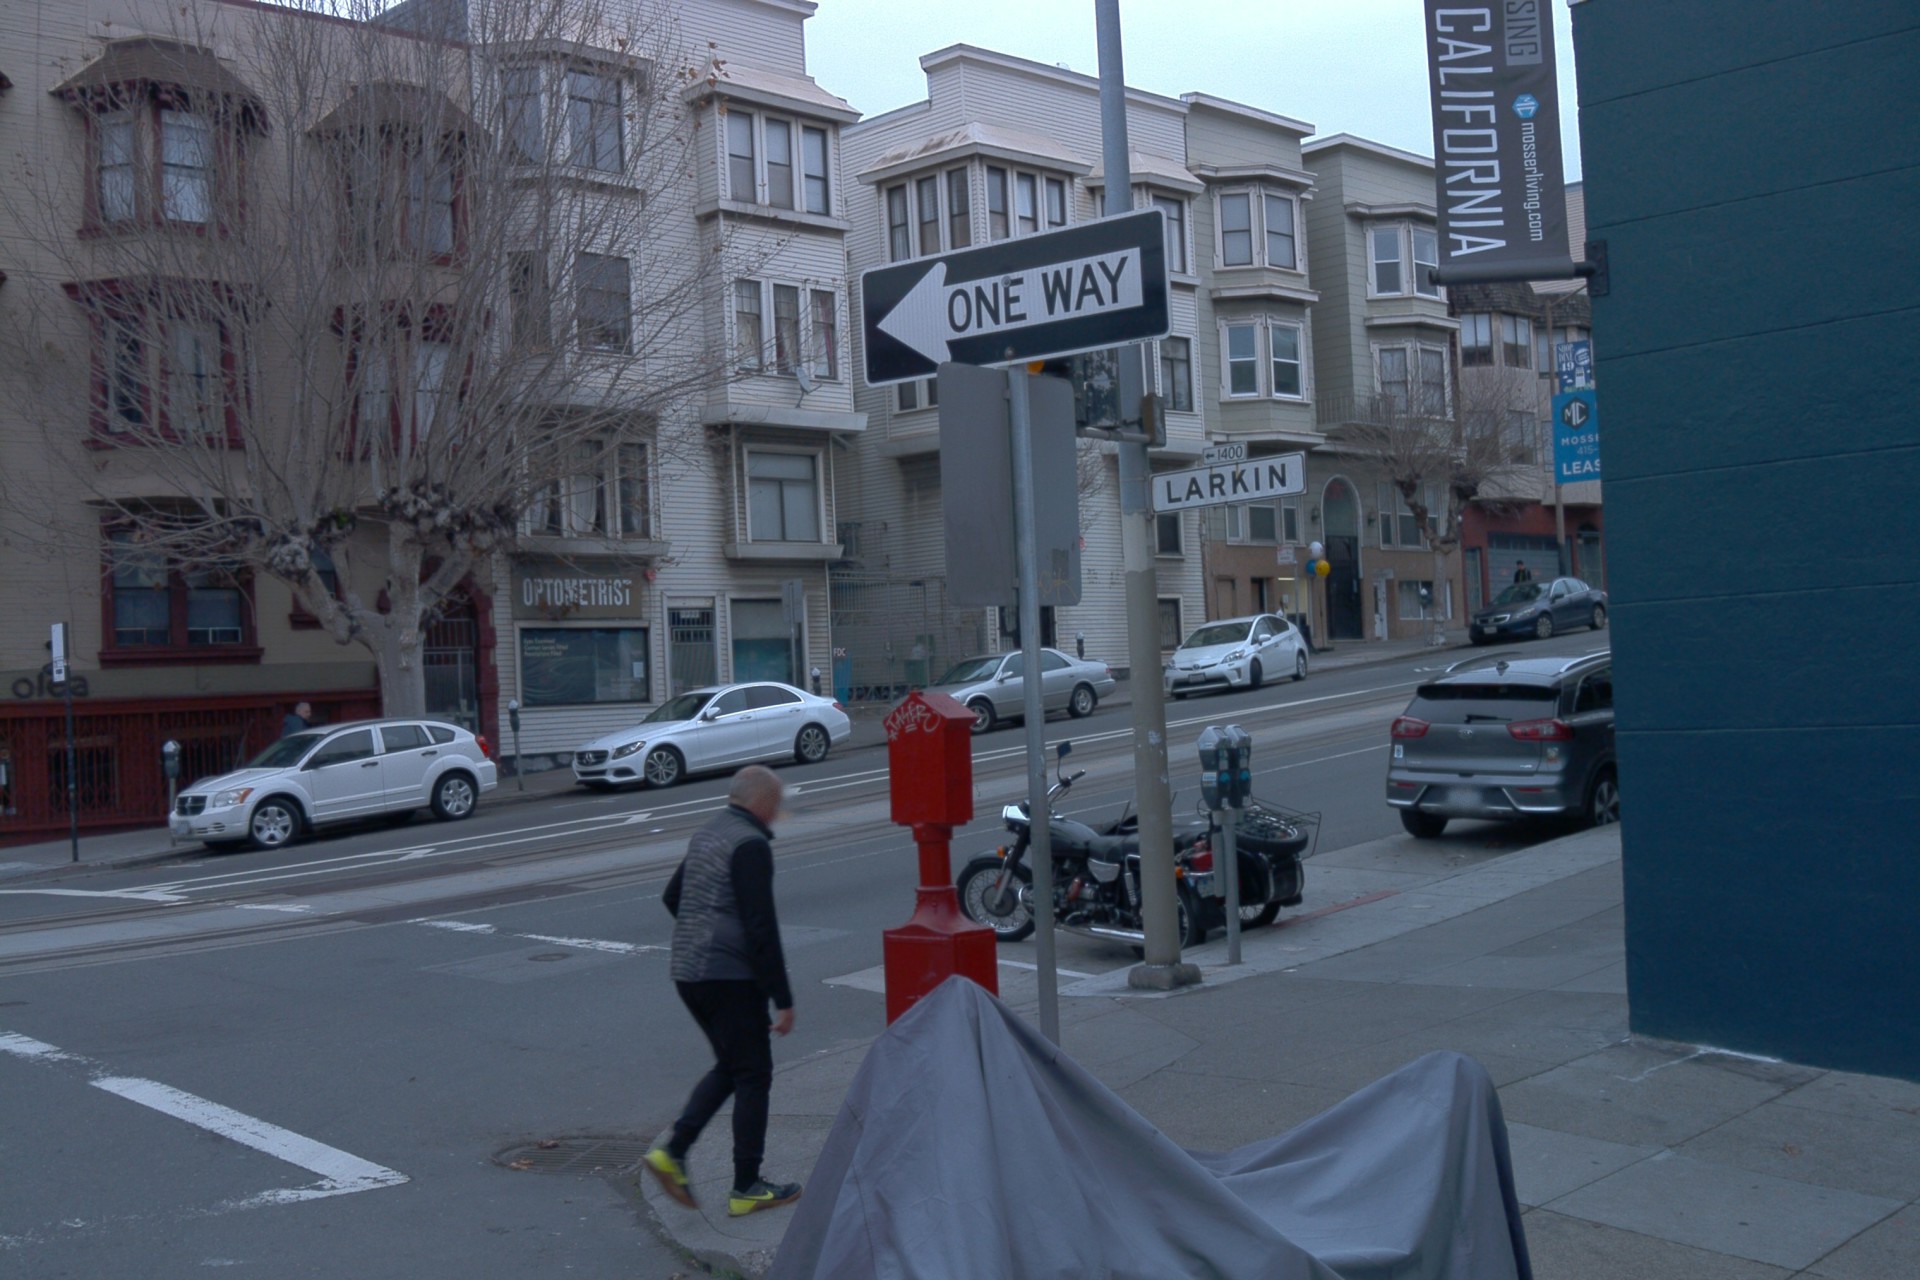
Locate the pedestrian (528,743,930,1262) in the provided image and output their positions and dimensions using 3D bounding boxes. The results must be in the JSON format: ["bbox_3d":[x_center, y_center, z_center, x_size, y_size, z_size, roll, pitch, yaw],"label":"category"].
[{"bbox_3d":[-0.879,1.296,7.889,1.241,1.716,0.884,-1,1,-38],"label":"pedestrian"}]

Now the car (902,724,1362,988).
[{"bbox_3d":[1.133,1.373,14.055,2.745,1.460,1.540,0,1,42],"label":"car"}]

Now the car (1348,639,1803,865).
[{"bbox_3d":[5.645,0.876,18.584,2.132,1.717,4.606,0,1,42],"label":"car"}]

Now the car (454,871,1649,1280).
[{"bbox_3d":[0.332,1.391,4.287,2.490,1.520,1.048,-1,1,-44],"label":"car"}]

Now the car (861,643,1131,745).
[{"bbox_3d":[0.712,0.905,37.121,4.801,1.657,2.084,-1,1,-45],"label":"car"}]

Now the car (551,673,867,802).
[{"bbox_3d":[-3.872,1.453,32.362,4.589,1.757,2.074,-1,1,-44],"label":"car"}]

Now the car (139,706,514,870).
[{"bbox_3d":[-8.482,1.907,27.920,2.053,1.847,4.407,1,1,44],"label":"car"}]
